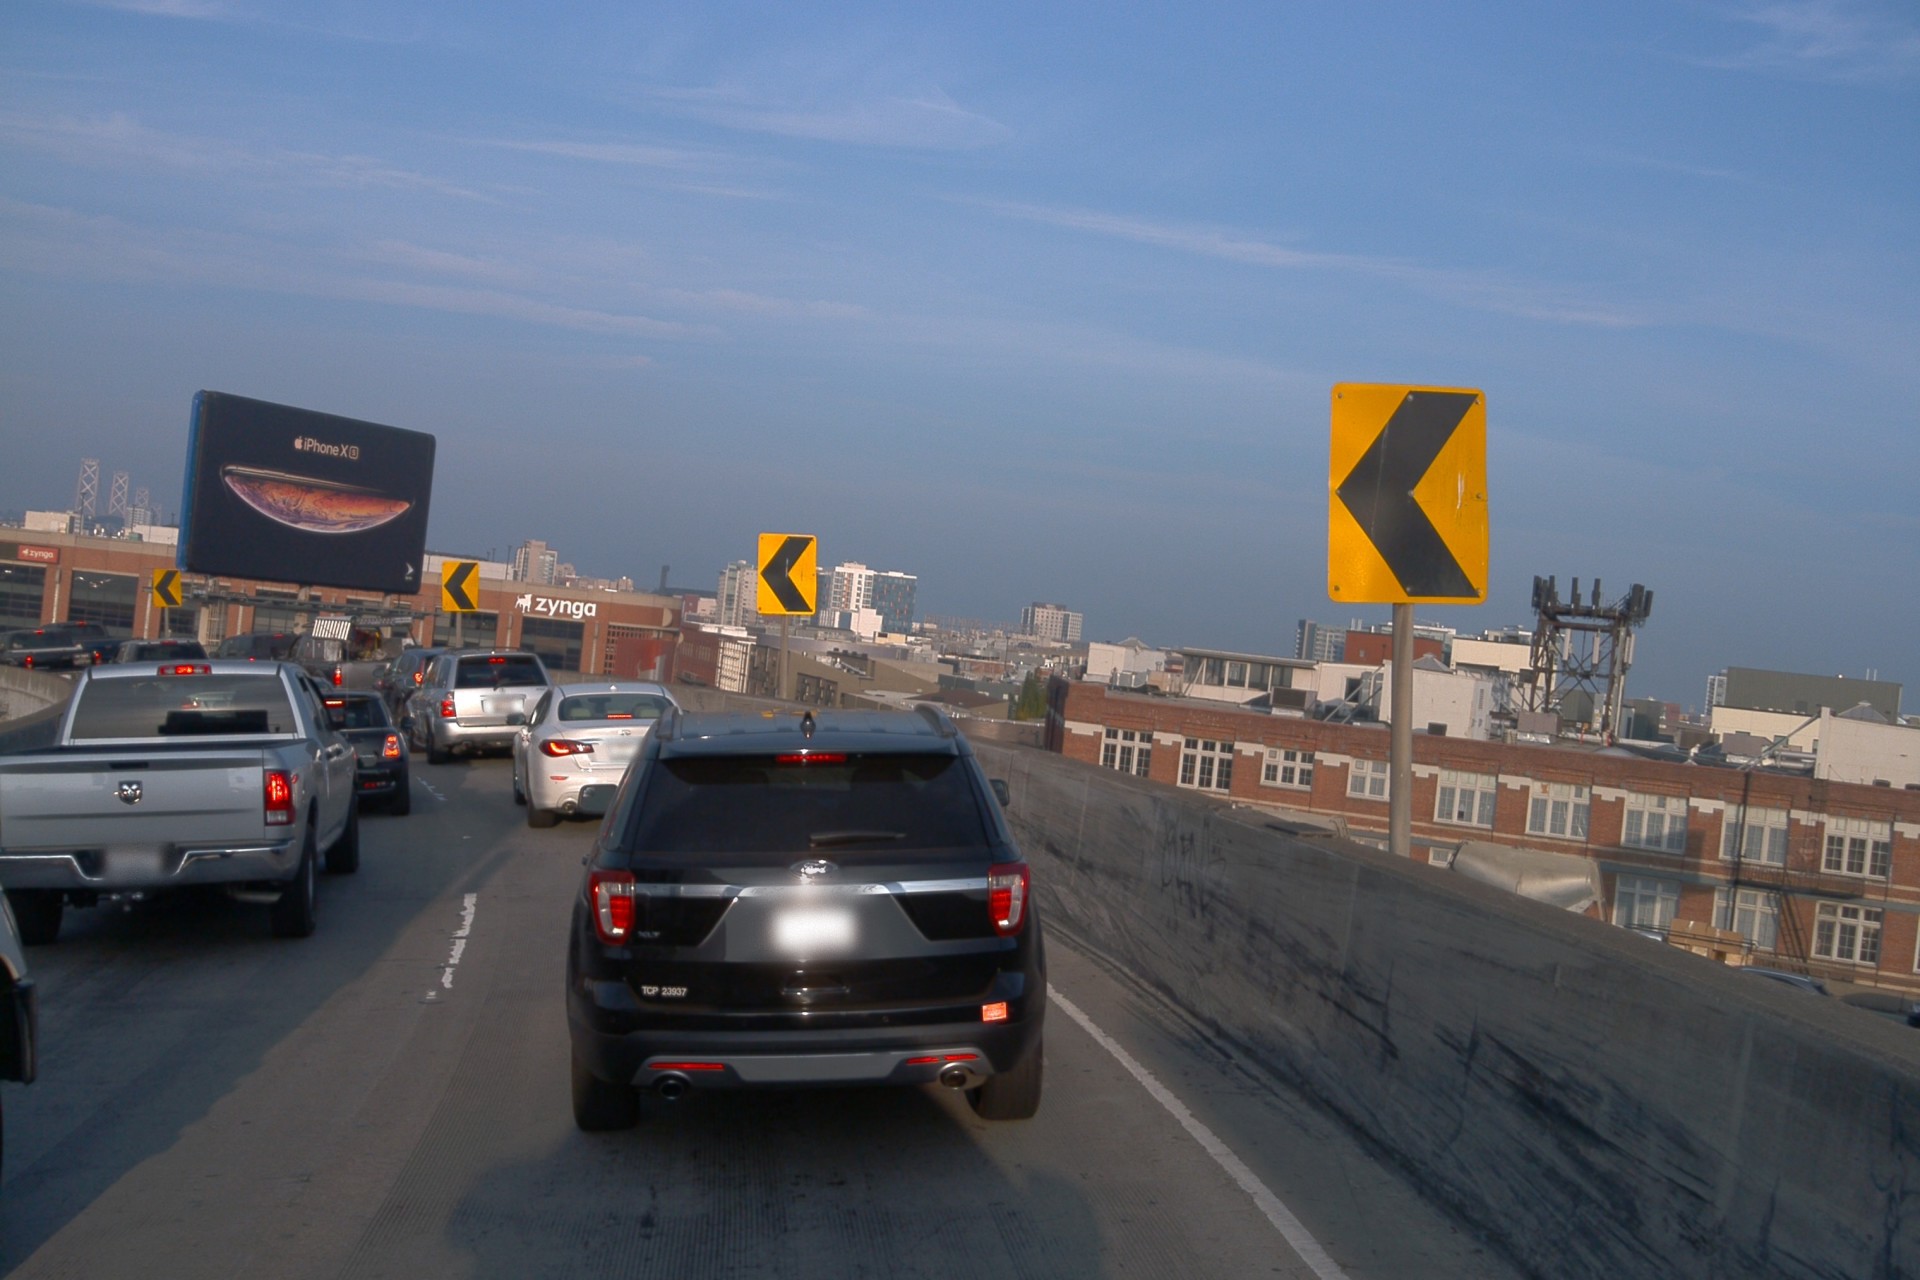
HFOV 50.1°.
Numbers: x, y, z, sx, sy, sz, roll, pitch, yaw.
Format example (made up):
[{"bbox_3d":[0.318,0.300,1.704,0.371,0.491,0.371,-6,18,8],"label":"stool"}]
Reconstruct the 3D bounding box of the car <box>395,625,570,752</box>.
[{"bbox_3d":[-7.535,0.698,32.099,1.992,1.820,4.394,0,0,-22],"label":"car"}]

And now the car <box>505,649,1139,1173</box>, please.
[{"bbox_3d":[-0.780,0.991,9.989,2.327,1.850,4.877,0,0,-7],"label":"car"}]

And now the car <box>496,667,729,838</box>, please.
[{"bbox_3d":[-3.943,1.141,22.640,2.144,1.590,4.509,0,0,-15],"label":"car"}]

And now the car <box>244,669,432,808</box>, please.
[{"bbox_3d":[-7.255,1.081,24.118,1.934,1.411,4.084,0,0,-16],"label":"car"}]
